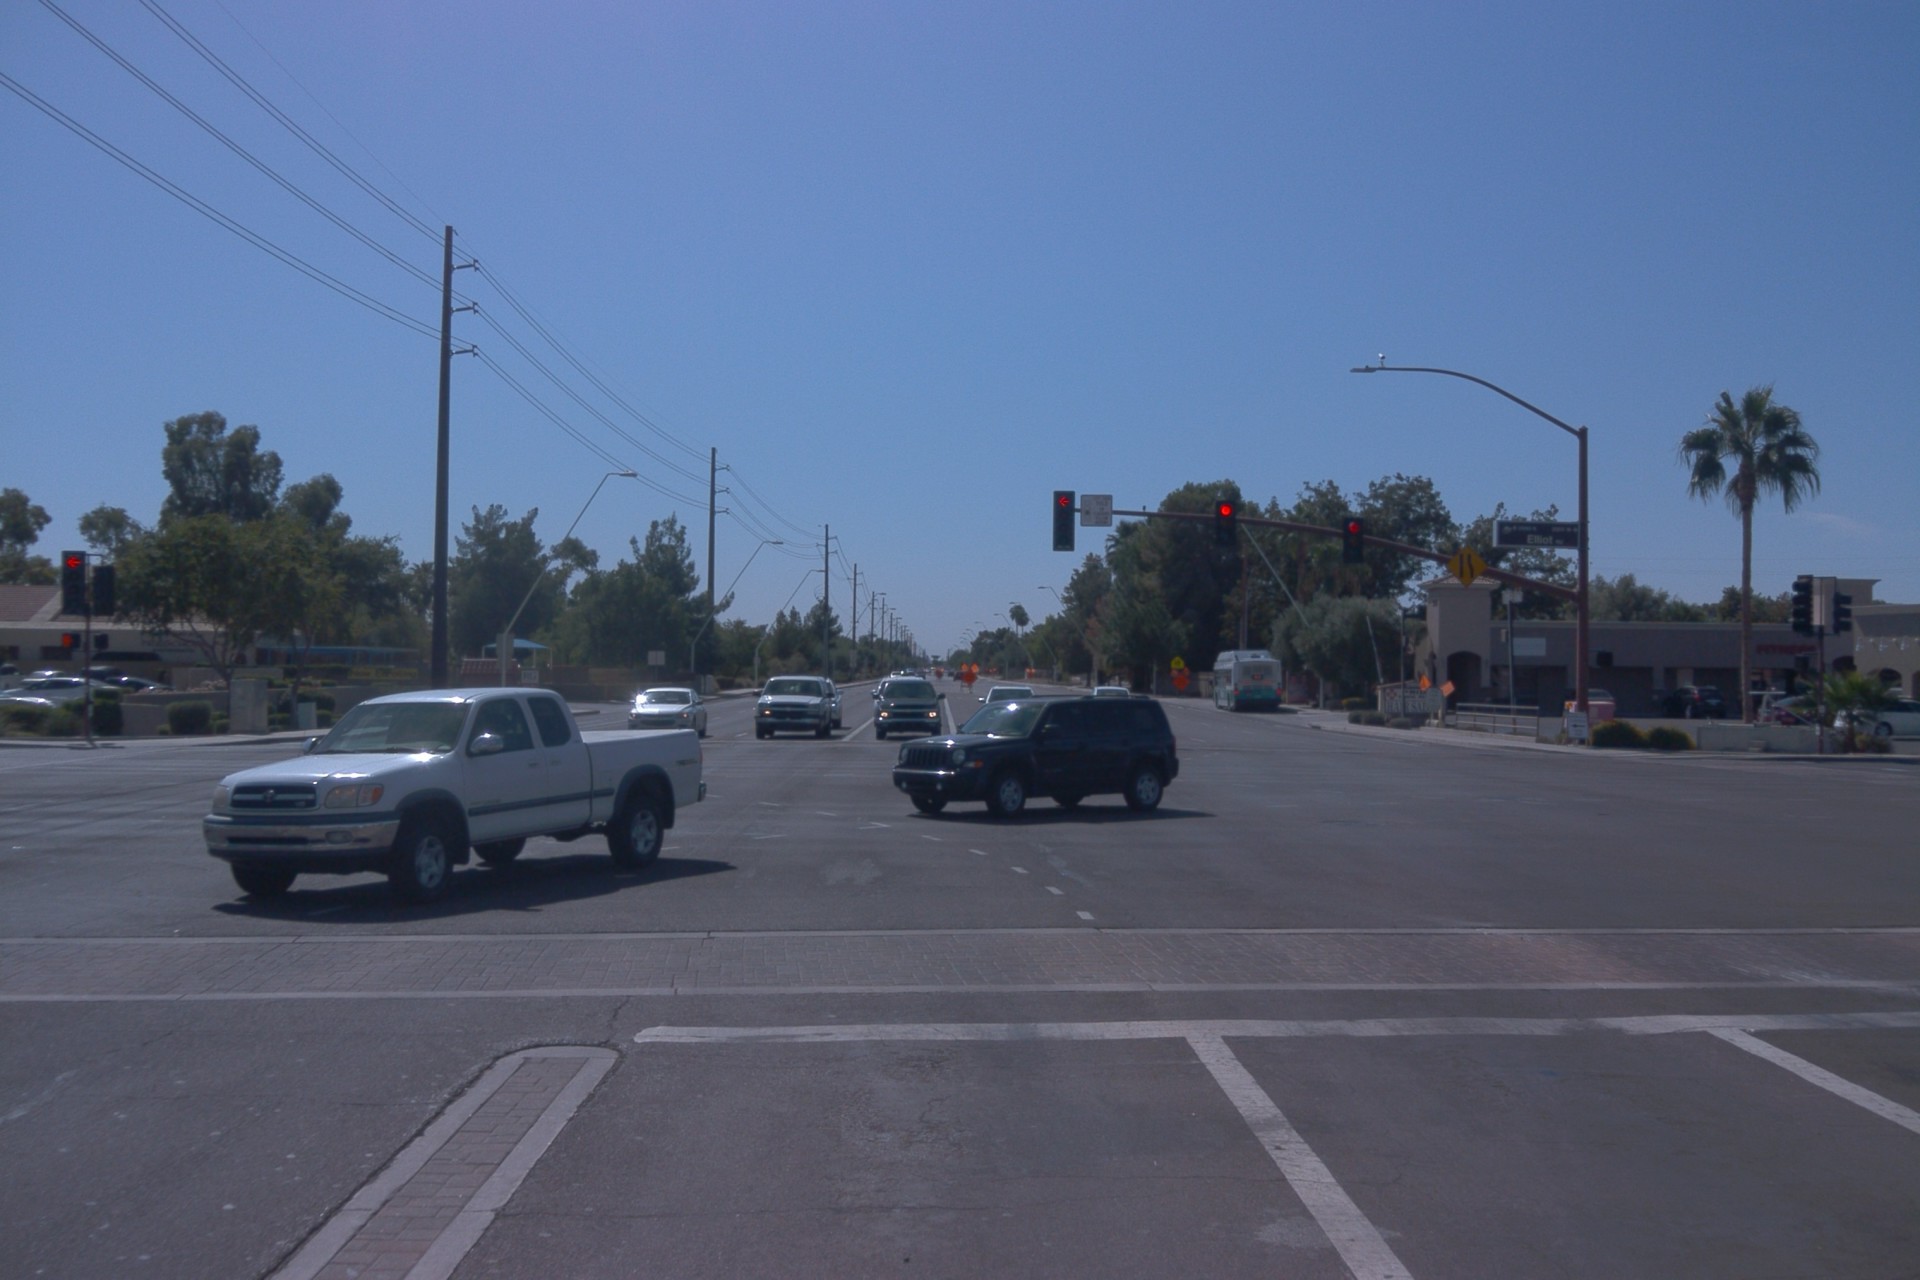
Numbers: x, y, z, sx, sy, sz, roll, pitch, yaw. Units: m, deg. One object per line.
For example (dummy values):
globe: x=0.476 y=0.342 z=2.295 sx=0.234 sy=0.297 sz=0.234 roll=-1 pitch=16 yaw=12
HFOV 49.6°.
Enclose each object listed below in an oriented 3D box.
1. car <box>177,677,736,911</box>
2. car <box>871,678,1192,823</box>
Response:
car: x=-4.564 y=1.308 z=19.972 sx=2.313 sy=1.900 sz=5.539 roll=0 pitch=-1 yaw=24
car: x=1.062 y=1.475 z=29.246 sx=4.336 sy=1.880 sz=2.045 roll=1 pitch=-1 yaw=-43
